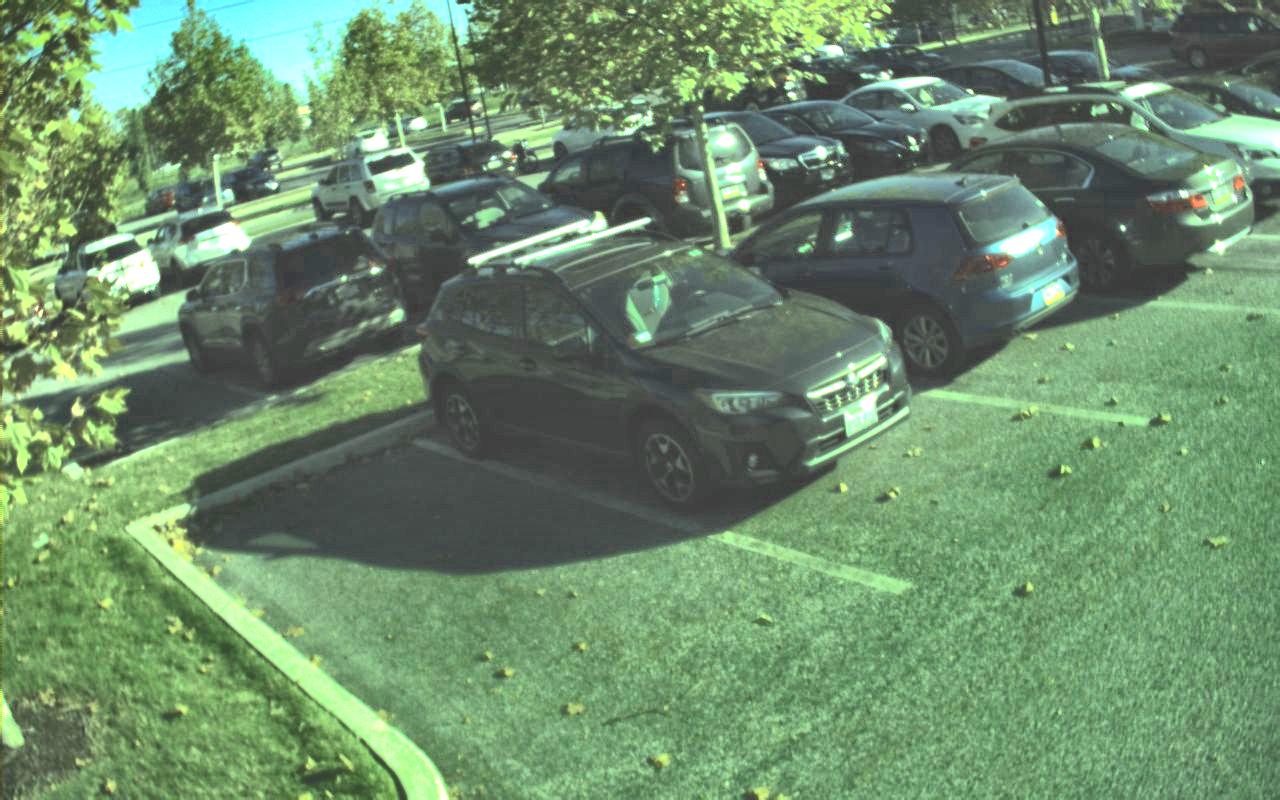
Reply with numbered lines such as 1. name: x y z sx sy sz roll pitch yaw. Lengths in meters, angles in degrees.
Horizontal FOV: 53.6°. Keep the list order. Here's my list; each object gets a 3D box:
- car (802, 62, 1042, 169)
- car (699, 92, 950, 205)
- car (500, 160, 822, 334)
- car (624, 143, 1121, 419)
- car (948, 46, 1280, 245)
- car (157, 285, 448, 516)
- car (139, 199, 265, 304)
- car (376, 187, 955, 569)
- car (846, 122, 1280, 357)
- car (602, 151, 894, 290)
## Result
1. car: 5.431 -5.636 23.783 2.029 1.727 4.680 -11 20 -32
2. car: 3.236 -4.602 22.208 1.968 1.588 4.450 -13 20 -35
3. car: 0.202 -2.382 18.366 2.041 1.779 4.654 -16 22 -41
4. car: 1.980 -1.262 11.104 1.902 1.630 4.226 -15 22 -40
5. car: 6.212 -3.258 14.309 2.072 1.862 4.822 -12 20 -34
6. car: -4.679 -0.179 16.179 2.046 1.731 4.740 -14 21 -38
7. car: -10.939 -3.709 29.382 2.026 1.776 4.604 -12 20 -33
8. car: -0.044 -0.473 9.508 1.962 1.695 4.468 -14 21 -37
9. car: 4.346 -1.818 12.275 1.971 1.597 4.556 -12 20 -33
10. car: 1.711 -3.039 20.436 4.473 1.639 1.975 13 21 39
